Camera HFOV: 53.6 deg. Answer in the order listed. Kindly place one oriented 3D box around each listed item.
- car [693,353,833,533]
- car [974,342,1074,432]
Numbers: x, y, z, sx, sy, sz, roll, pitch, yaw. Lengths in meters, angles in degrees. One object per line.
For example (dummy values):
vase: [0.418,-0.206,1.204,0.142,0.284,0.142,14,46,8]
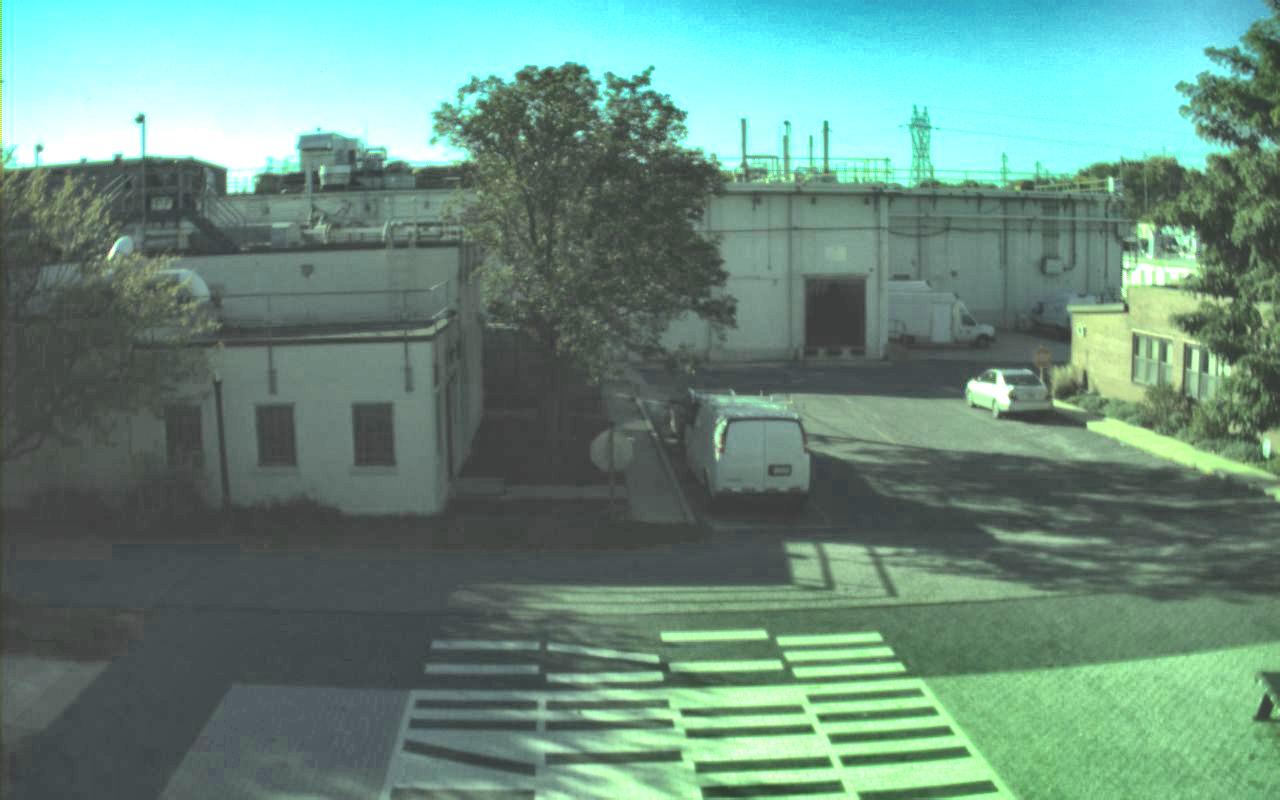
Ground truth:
car: [2.462,0.755,26.685,2.225,2.133,5.288,-2,17,-2]
car: [12.625,-0.464,40.334,1.987,1.683,4.630,-1,17,-1]
